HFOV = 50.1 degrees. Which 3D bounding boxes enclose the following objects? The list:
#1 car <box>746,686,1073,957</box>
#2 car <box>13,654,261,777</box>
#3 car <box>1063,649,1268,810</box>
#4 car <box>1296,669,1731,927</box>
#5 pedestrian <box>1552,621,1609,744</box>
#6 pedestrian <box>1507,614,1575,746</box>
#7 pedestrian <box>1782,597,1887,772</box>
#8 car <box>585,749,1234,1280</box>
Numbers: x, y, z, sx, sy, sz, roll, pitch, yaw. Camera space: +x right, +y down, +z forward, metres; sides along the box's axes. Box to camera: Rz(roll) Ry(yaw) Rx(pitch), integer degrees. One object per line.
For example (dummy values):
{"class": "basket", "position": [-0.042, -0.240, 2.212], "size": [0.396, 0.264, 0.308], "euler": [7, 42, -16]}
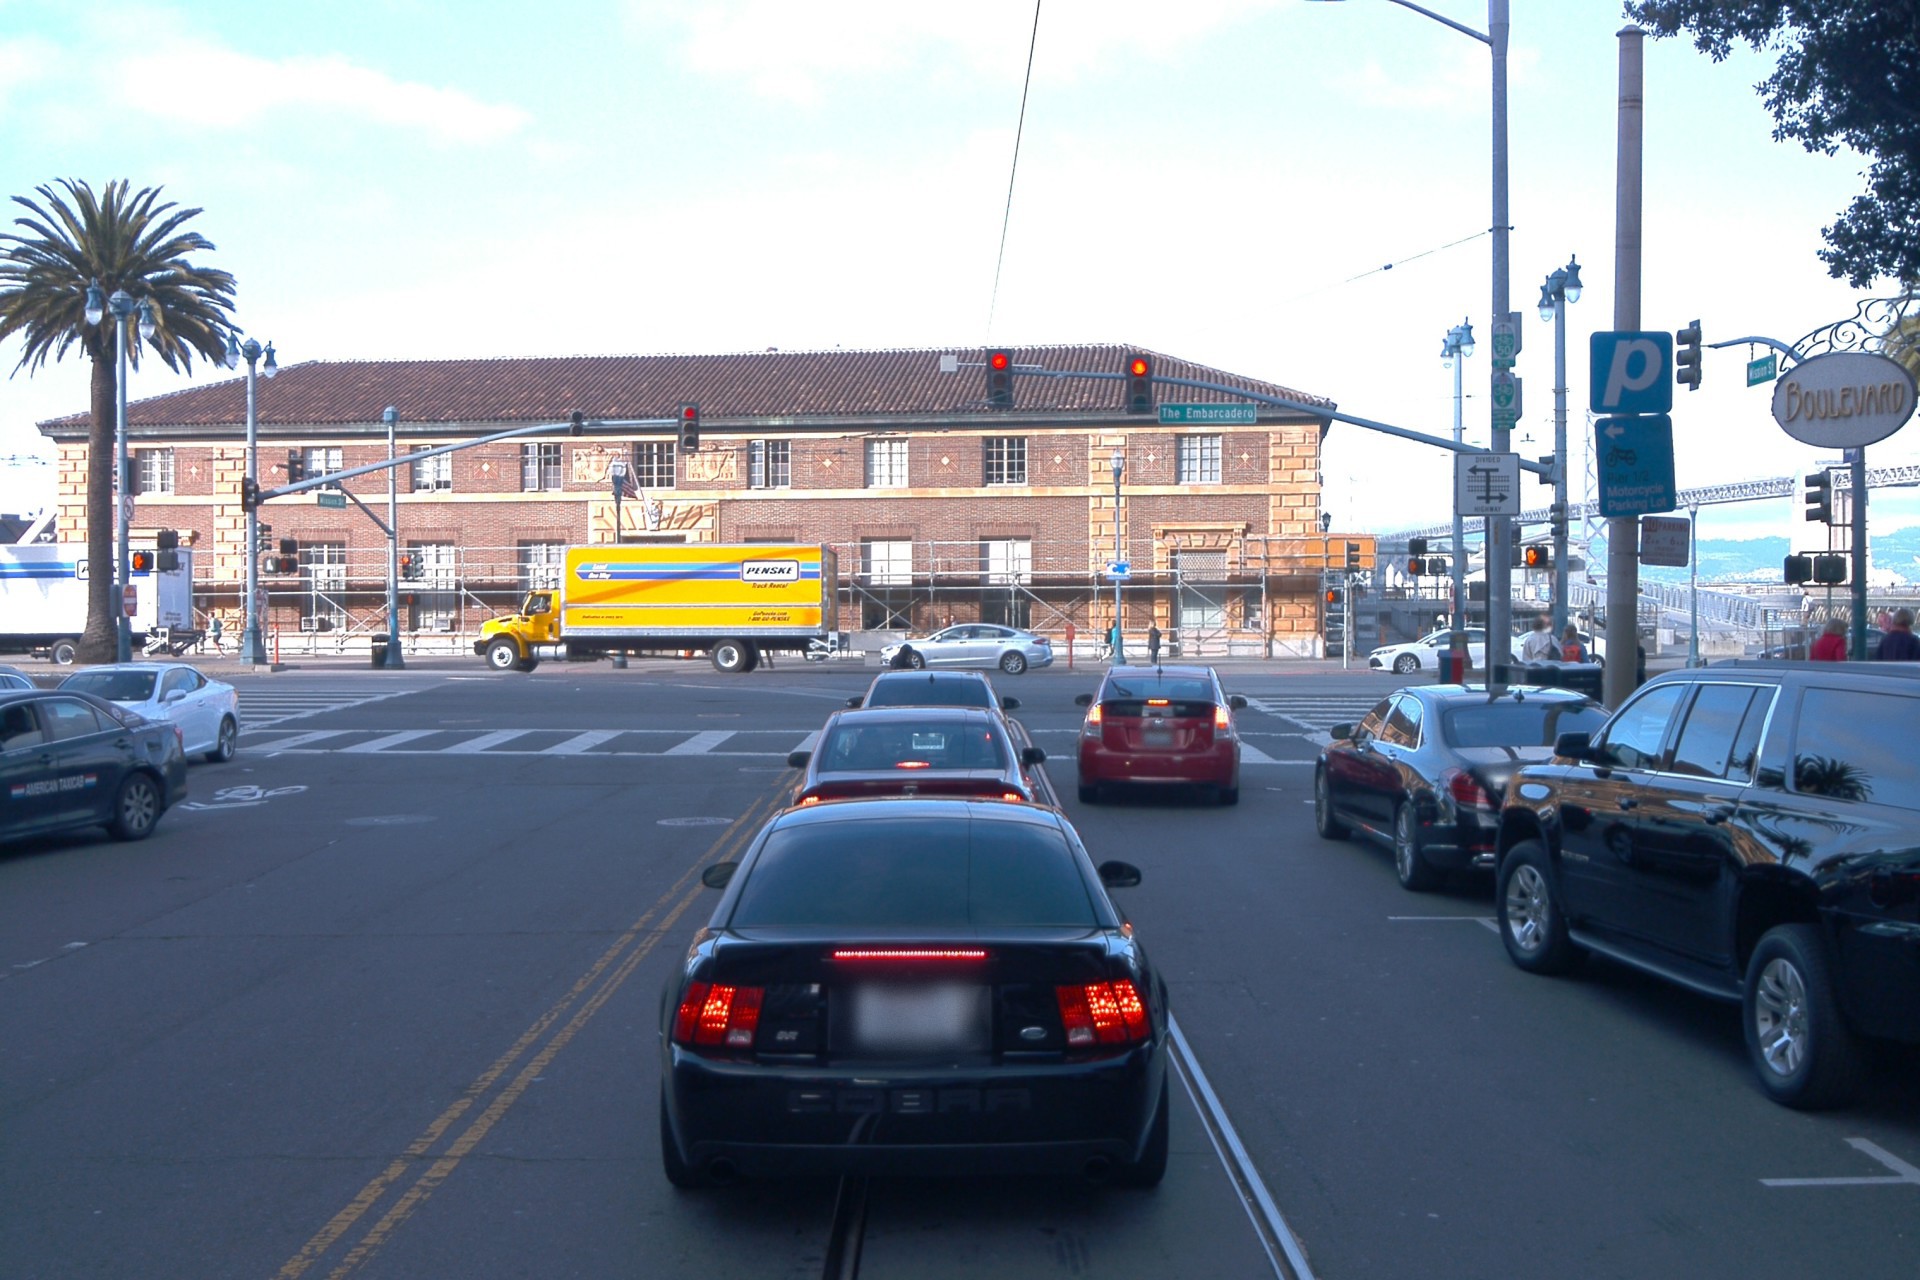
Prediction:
{"class": "car", "position": [-0.319, 1.180, 14.903], "size": [2.032, 1.533, 4.187], "euler": [0, 1, 0]}
{"class": "car", "position": [-10.675, 0.938, 26.930], "size": [1.723, 1.430, 3.630], "euler": [0, 1, 2]}
{"class": "car", "position": [2.309, 0.934, 23.473], "size": [2.102, 1.570, 4.550], "euler": [0, 1, 5]}
{"class": "car", "position": [4.227, 1.123, 16.719], "size": [2.062, 1.630, 5.189], "euler": [0, 1, -1]}
{"class": "pedestrian", "position": [9.512, 0.640, 31.522], "size": [0.667, 1.870, 0.754], "euler": [0, 1, 2]}
{"class": "pedestrian", "position": [8.844, 0.597, 31.308], "size": [0.837, 1.970, 0.922], "euler": [0, 1, 6]}
{"class": "pedestrian", "position": [9.395, 0.461, 22.084], "size": [0.806, 1.828, 0.734], "euler": [-1, 1, -37]}
{"class": "car", "position": [-0.158, 1.313, 8.384], "size": [2.005, 1.463, 4.021], "euler": [0, 1, 0]}
